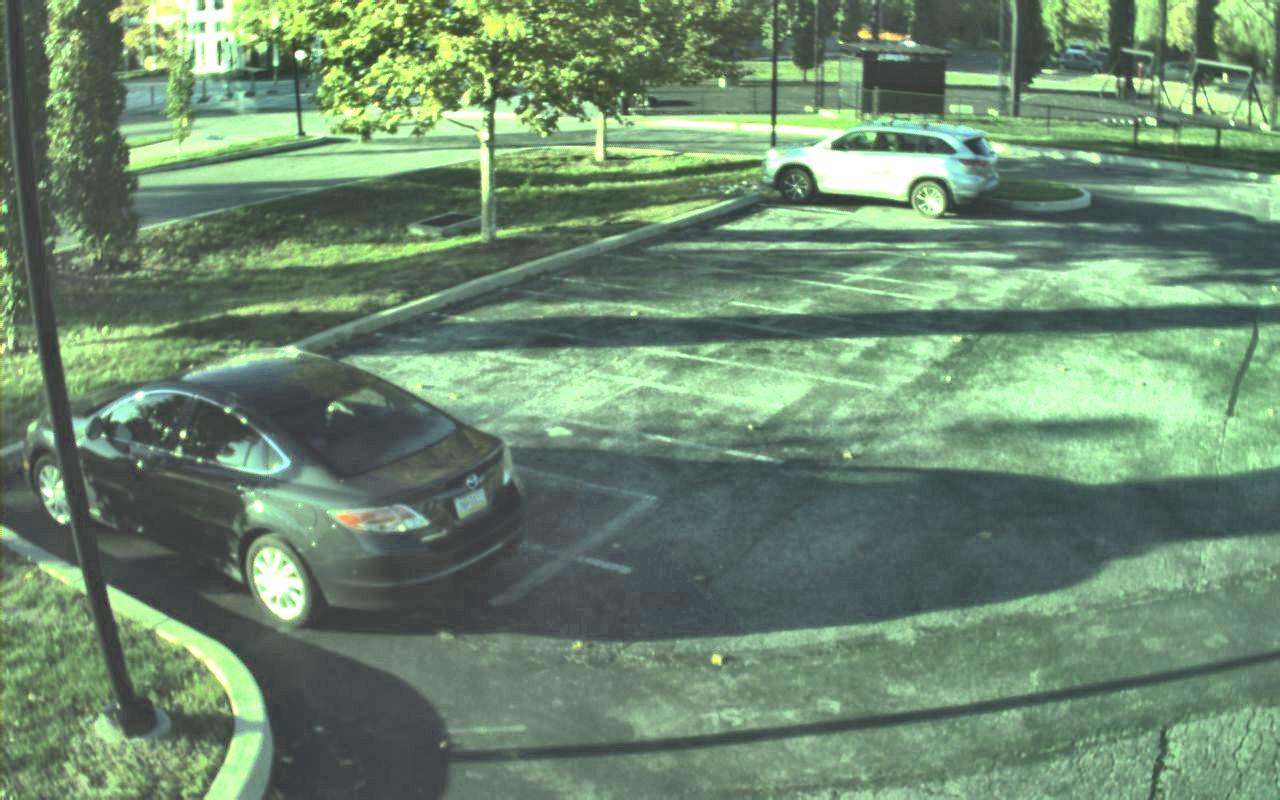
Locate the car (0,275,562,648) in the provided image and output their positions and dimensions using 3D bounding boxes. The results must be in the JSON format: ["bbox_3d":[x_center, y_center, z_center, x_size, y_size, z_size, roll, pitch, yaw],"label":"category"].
[{"bbox_3d":[-3.095,0.188,9.106,4.653,1.657,2.013,8,17,29],"label":"car"}]

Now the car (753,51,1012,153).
[{"bbox_3d":[4.865,-5.996,24.339,4.830,1.843,2.065,7,17,28],"label":"car"}]
